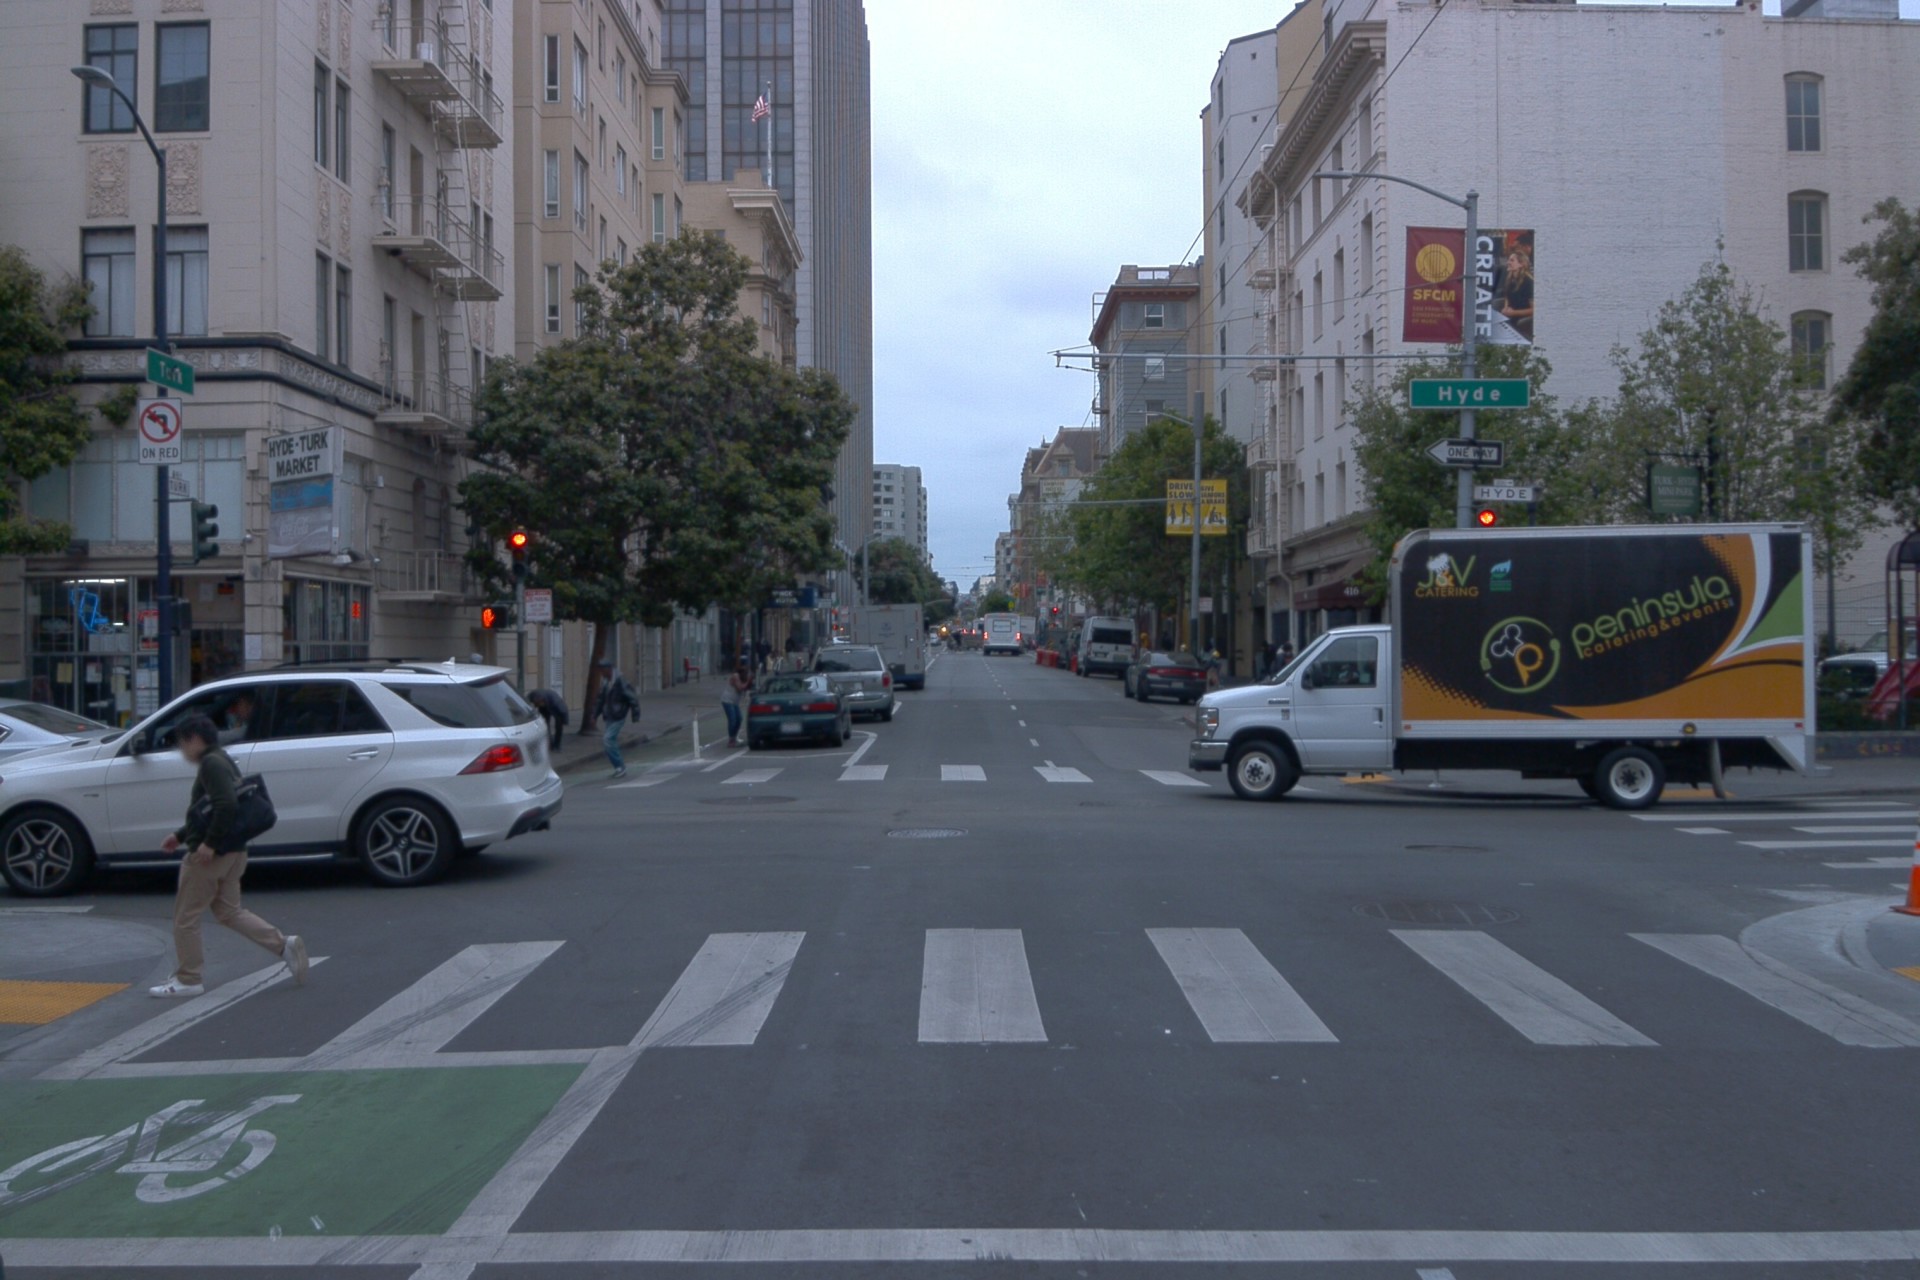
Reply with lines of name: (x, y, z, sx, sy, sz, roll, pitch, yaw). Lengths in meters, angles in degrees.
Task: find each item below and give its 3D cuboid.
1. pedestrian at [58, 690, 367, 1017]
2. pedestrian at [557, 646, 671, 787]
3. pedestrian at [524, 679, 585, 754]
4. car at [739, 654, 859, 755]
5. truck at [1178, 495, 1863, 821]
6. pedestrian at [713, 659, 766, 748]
pedestrian: (-4.201, 1.168, 11.667, 1.319, 1.720, 1.107, 0, 1, 3)
pedestrian: (-5.095, 1.094, 30.312, 1.263, 1.990, 1.092, 1, 1, 41)
pedestrian: (-7.230, 1.351, 36.628, 1.026, 1.270, 1.025, -1, 1, -13)
car: (-2.864, 1.123, 37.335, 1.721, 1.630, 3.892, 0, 1, 2)
truck: (6.238, 0.172, 23.707, 7.162, 3.420, 2.911, 0, 1, 12)
pedestrian: (-4.024, 1.151, 37.527, 0.695, 1.580, 0.680, -1, 1, -37)
